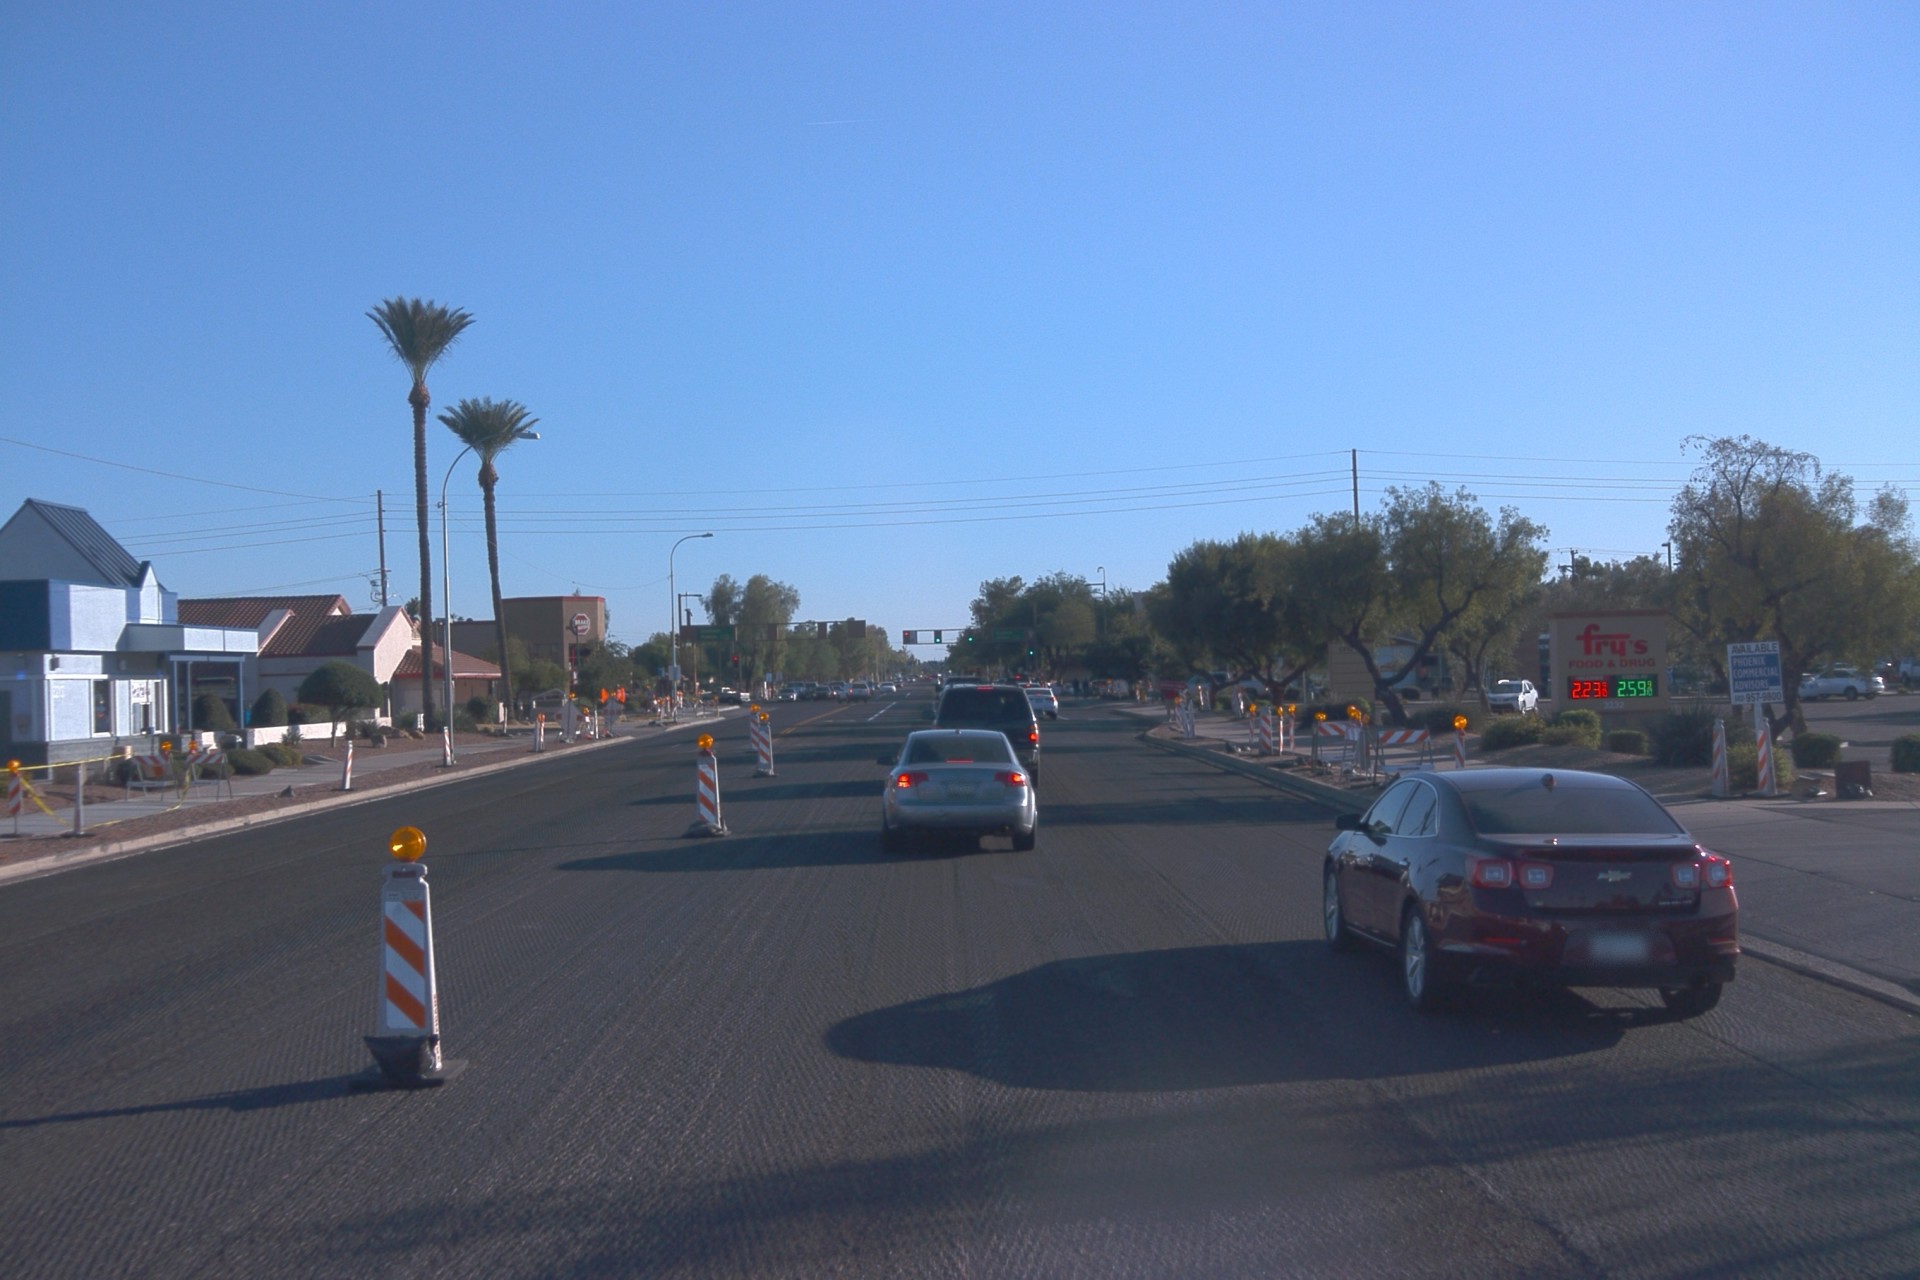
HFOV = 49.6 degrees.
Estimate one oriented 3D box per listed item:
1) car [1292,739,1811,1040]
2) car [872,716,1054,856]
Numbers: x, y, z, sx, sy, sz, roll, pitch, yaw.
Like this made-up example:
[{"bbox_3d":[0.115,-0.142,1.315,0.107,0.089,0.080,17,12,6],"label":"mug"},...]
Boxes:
[{"bbox_3d":[3.709,1.516,14.094,2.110,1.540,4.833,0,-1,0],"label":"car"},{"bbox_3d":[-0.015,1.713,25.471,2.033,1.480,4.403,0,-1,-1],"label":"car"}]
